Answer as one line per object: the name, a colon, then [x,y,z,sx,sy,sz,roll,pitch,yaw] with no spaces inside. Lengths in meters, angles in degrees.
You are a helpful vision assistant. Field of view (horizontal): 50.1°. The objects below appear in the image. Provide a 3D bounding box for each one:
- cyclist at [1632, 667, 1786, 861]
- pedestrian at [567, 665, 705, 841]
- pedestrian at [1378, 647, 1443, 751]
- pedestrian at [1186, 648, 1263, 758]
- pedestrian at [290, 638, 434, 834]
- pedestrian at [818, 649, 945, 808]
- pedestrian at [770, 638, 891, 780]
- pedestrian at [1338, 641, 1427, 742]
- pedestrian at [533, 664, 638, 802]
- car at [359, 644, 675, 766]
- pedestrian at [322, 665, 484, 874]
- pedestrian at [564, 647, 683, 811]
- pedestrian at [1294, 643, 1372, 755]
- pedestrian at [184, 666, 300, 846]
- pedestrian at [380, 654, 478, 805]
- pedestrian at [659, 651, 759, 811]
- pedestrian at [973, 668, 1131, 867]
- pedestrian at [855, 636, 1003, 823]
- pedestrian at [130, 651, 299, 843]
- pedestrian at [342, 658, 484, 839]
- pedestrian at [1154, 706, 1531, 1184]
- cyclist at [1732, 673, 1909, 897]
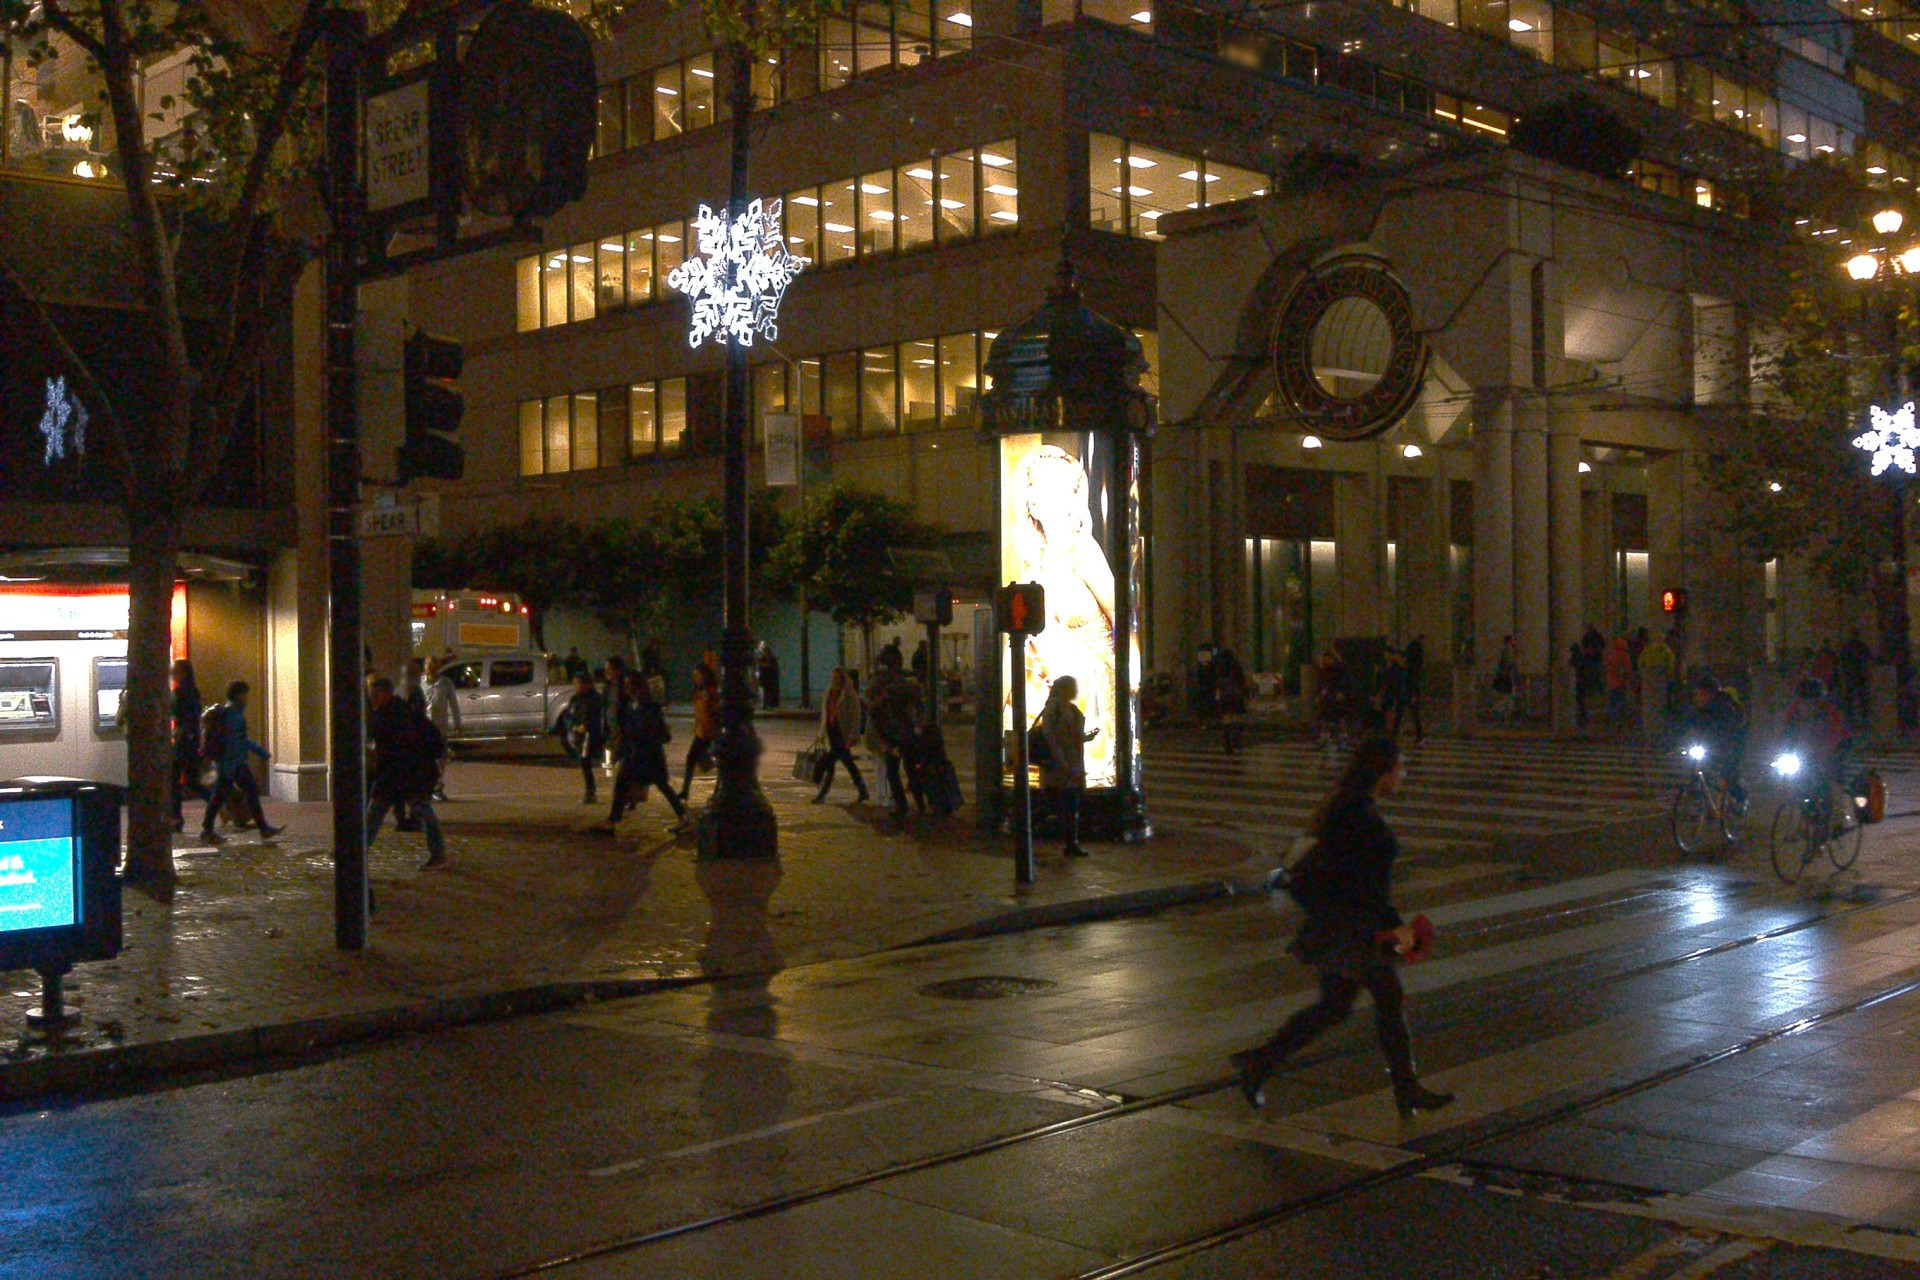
cyclist: [7.072,1.125,19.344,0.756,1.680,1.798,1,1,41]
pedestrian: [-3.157,1.074,20.002,1.083,1.620,0.886,-1,1,-30]
pedestrian: [7.685,0.990,35.027,0.657,1.720,0.998,1,1,44]
pedestrian: [4.271,0.998,33.148,0.806,1.710,0.985,1,1,41]
pedestrian: [-6.065,0.941,20.847,1.058,1.900,0.963,-1,1,-45]
pedestrian: [-0.892,0.981,23.288,1.120,1.720,0.908,-1,1,-38]
pedestrian: [-1.594,0.821,25.253,1.025,1.680,1.080,-1,1,-43]
pedestrian: [7.306,0.880,35.537,1.397,1.680,0.876,-1,1,-45]
pedestrian: [-4.259,1.042,23.397,0.776,1.500,0.879,1,1,37]
car: [-7.412,1.072,34.750,4.910,1.960,1.934,0,1,0]
pedestrian: [-4.648,1.050,17.174,0.699,1.650,1.101,1,1,39]
pedestrian: [-3.701,0.949,22.594,0.988,1.730,0.843,-1,1,-42]
pedestrian: [6.134,0.946,33.748,0.860,1.780,0.987,1,1,43]
pedestrian: [-6.711,1.064,19.189,0.894,1.600,0.763,-1,1,-30]
pedestrian: [-6.023,0.998,23.321,0.884,1.670,0.697,0,1,4]
pedestrian: [-2.967,1.051,24.304,0.842,1.820,0.812,1,1,41]
pedestrian: [0.844,1.129,18.709,1.116,1.700,0.976,1,1,29]
pedestrian: [-0.328,0.923,21.978,1.418,1.920,0.742,-1,1,-34]
pedestrian: [-7.313,1.011,20.148,1.284,1.770,1.035,-1,1,-38]
pedestrian: [-5.395,1.036,20.252,1.067,1.690,0.926,-1,1,-38]
pedestrian: [1.624,1.192,8.649,1.222,1.750,1.143,1,1,32]
cyclist: [7.037,1.136,16.758,0.727,1.680,1.754,1,1,44]
